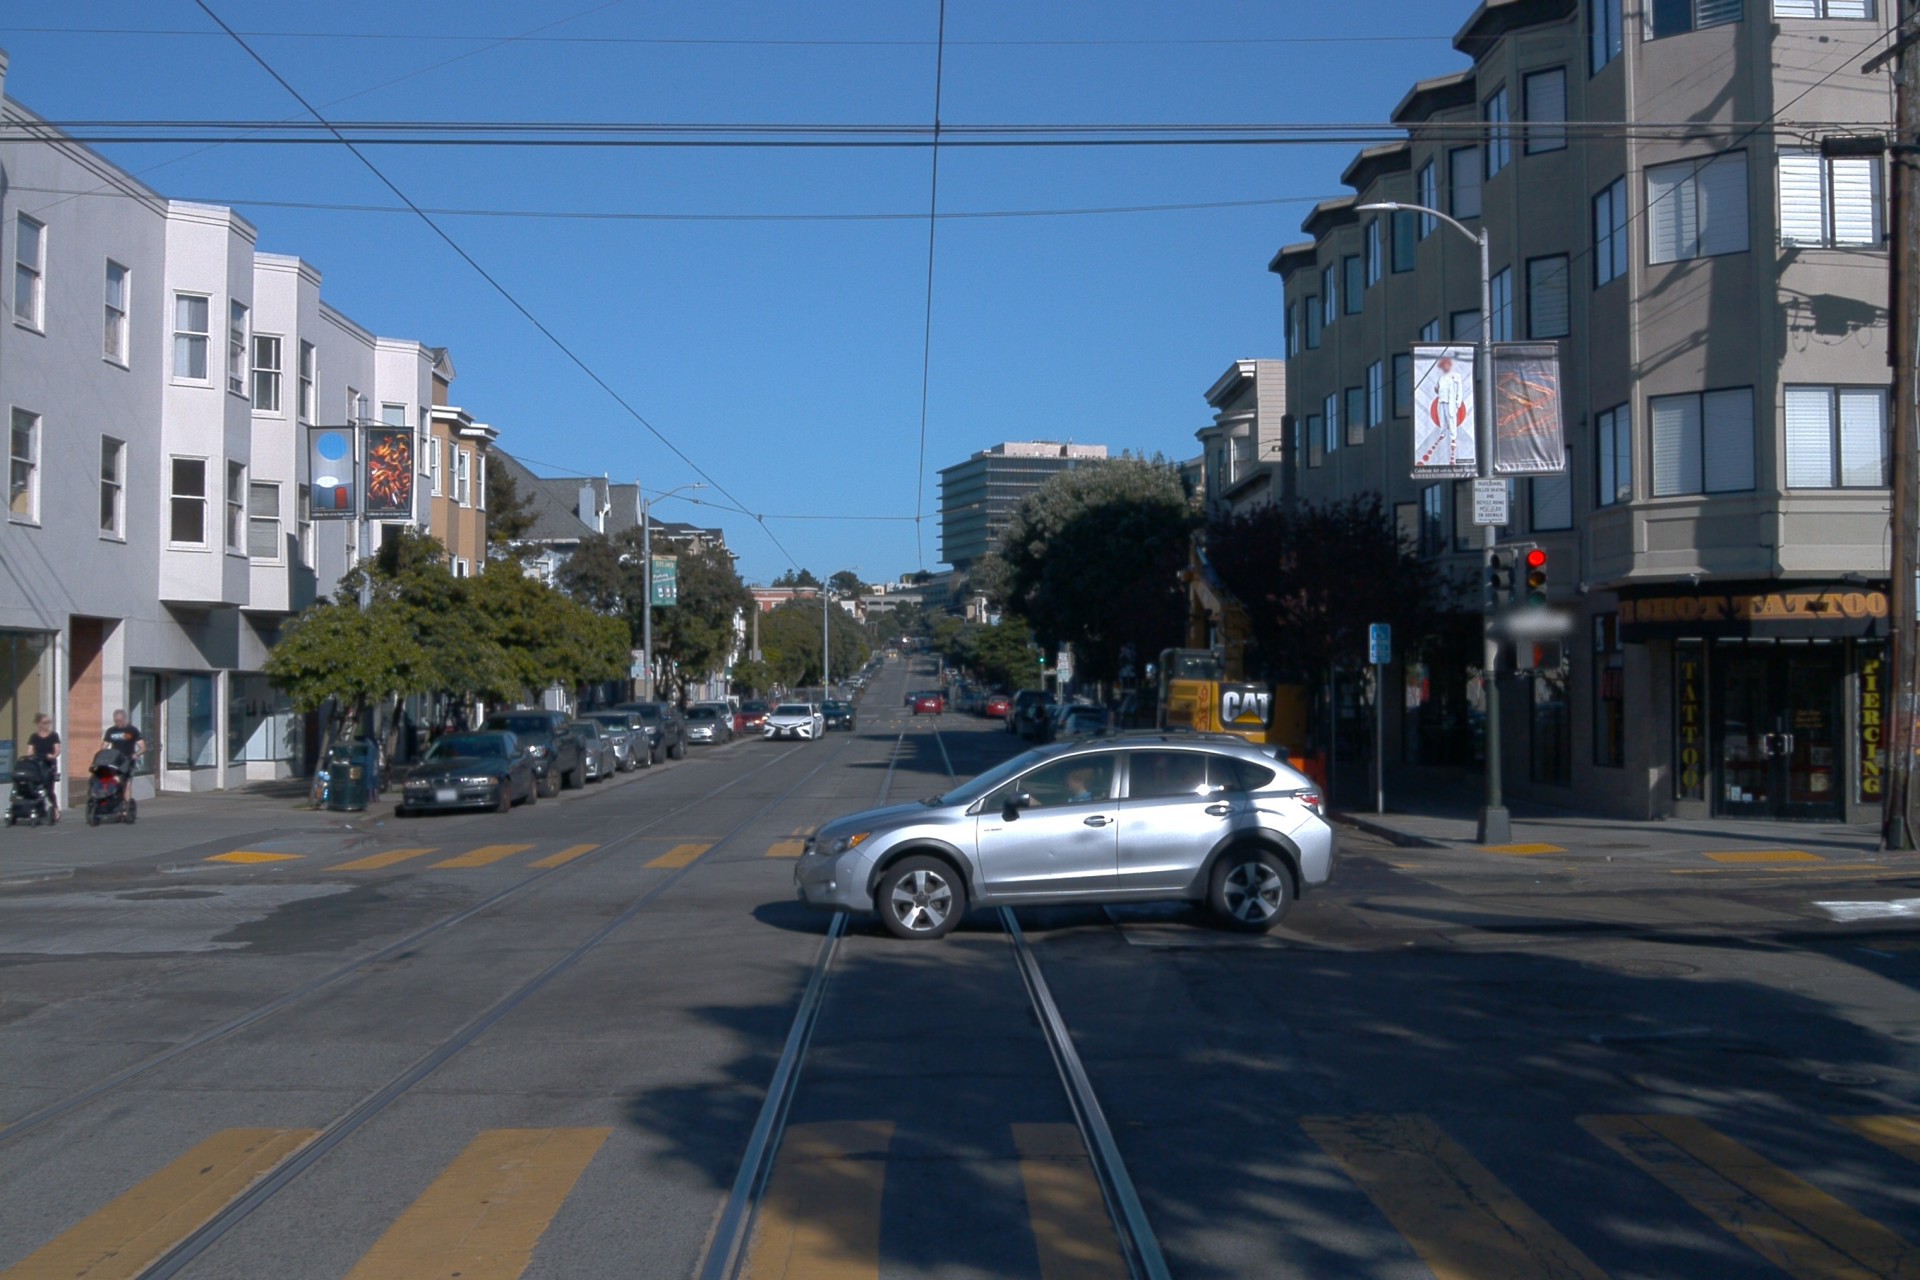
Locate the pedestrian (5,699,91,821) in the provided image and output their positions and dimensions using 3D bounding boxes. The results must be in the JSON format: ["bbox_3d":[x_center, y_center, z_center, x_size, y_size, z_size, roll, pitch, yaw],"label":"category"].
[{"bbox_3d":[-13.219,1.723,30.048,0.837,1.720,1.012,0,0,-3],"label":"pedestrian"}]

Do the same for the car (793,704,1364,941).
[{"bbox_3d":[0.870,1.440,17.094,4.468,1.770,1.920,0,0,-5],"label":"car"}]

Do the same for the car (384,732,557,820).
[{"bbox_3d":[-8.759,2.410,37.437,2.075,1.330,4.407,0,0,0],"label":"car"}]

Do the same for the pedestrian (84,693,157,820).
[{"bbox_3d":[-12.405,1.707,30.644,0.768,1.820,0.947,0,0,-6],"label":"pedestrian"}]
